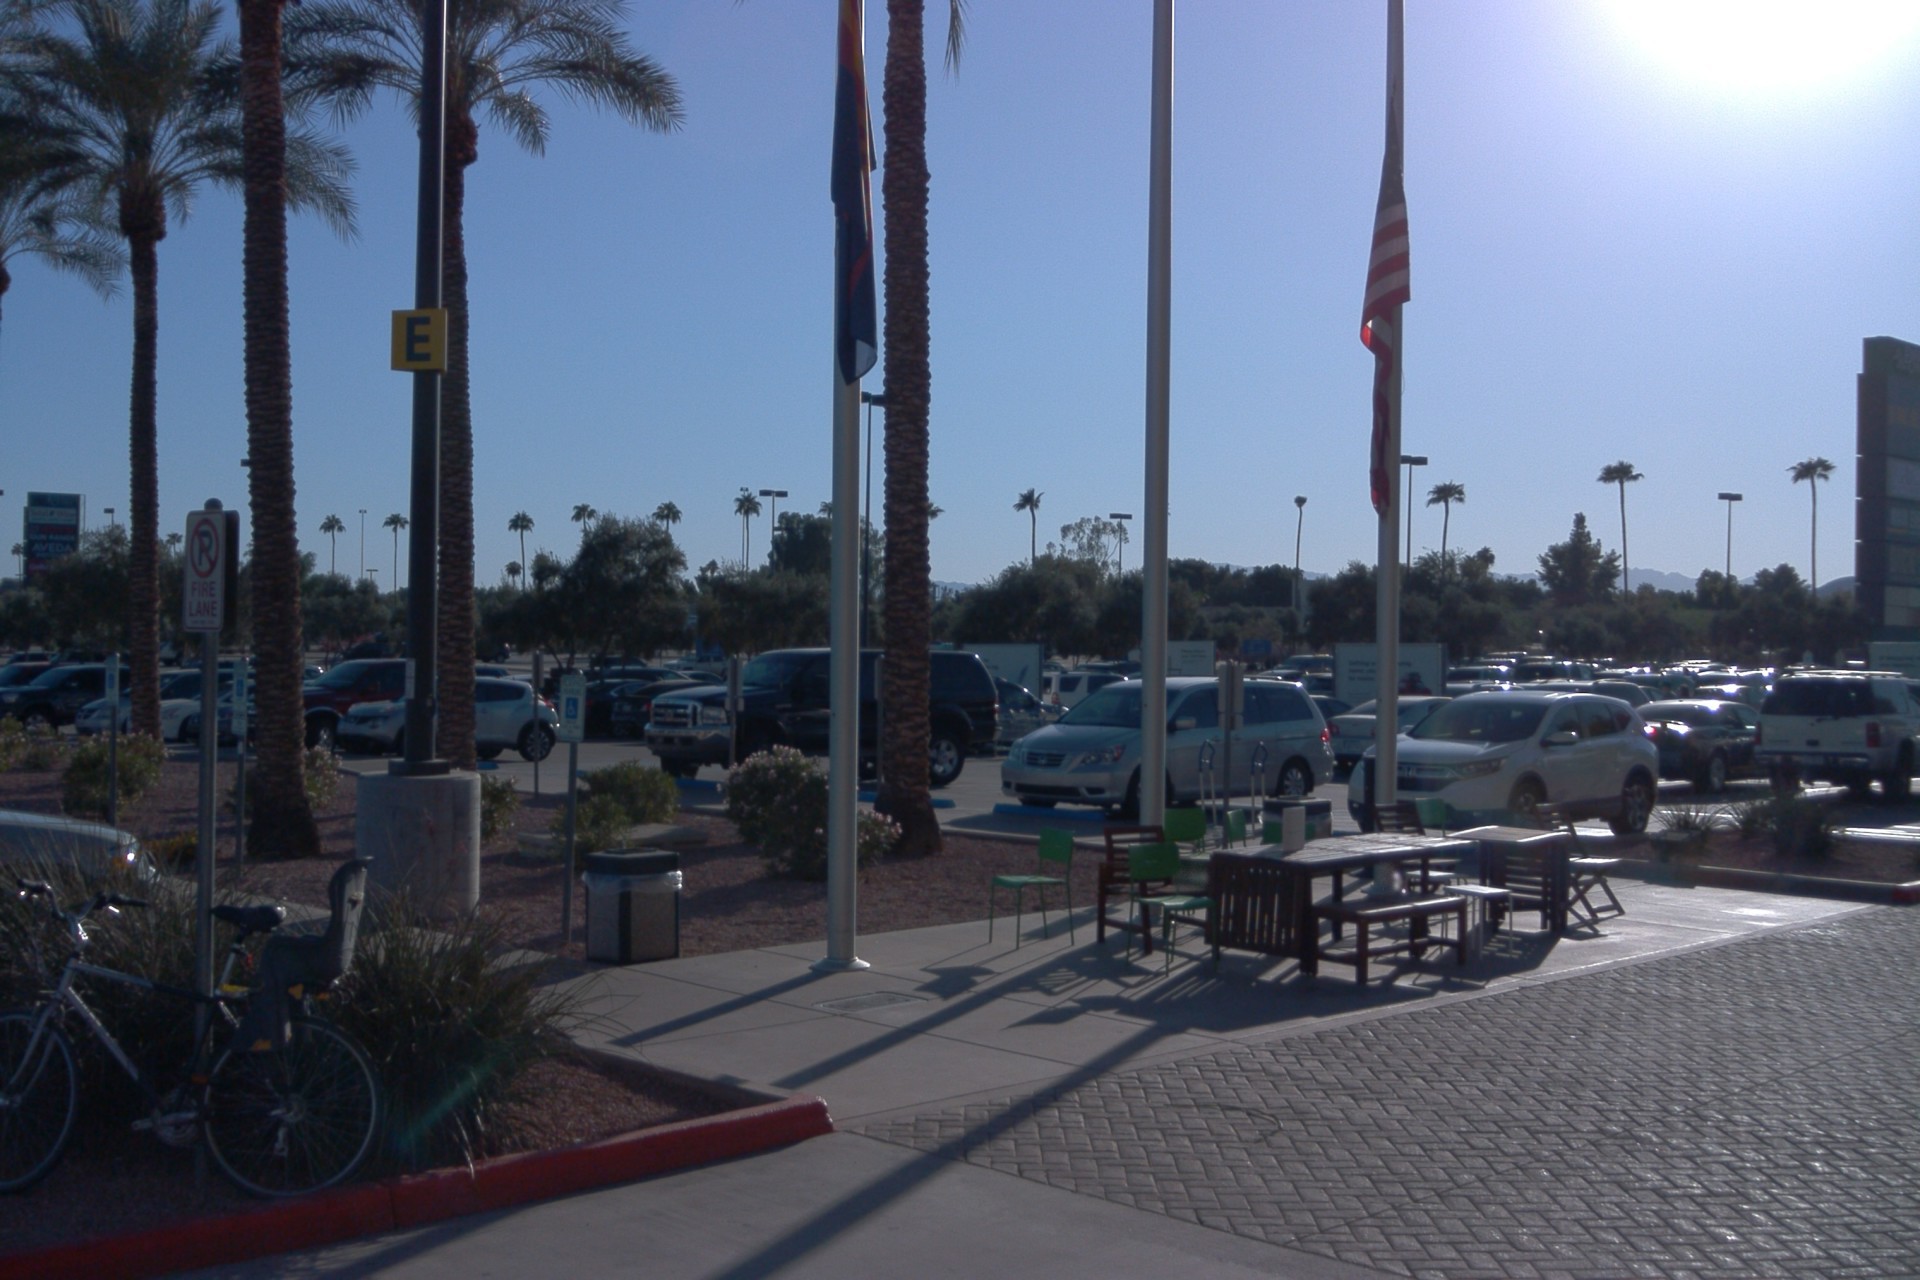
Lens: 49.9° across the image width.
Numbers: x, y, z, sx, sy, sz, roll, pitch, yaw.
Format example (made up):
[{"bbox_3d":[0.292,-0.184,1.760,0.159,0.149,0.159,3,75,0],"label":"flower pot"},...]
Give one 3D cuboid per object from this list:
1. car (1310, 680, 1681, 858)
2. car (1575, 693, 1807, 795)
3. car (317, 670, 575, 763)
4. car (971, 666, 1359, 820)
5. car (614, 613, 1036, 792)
[{"bbox_3d":[6.063,1.336,23.018,2.159,1.710,4.564,0,0,41],"label":"car"},{"bbox_3d":[12.117,1.655,34.077,4.346,1.490,1.909,1,0,-45],"label":"car"},{"bbox_3d":[-9.299,1.341,37.559,1.967,1.550,4.106,0,0,44],"label":"car"},{"bbox_3d":[2.783,1.242,26.984,2.246,1.780,5.286,0,0,44],"label":"car"},{"bbox_3d":[-1.970,0.895,31.818,6.160,2.490,2.672,1,0,-43],"label":"car"}]
